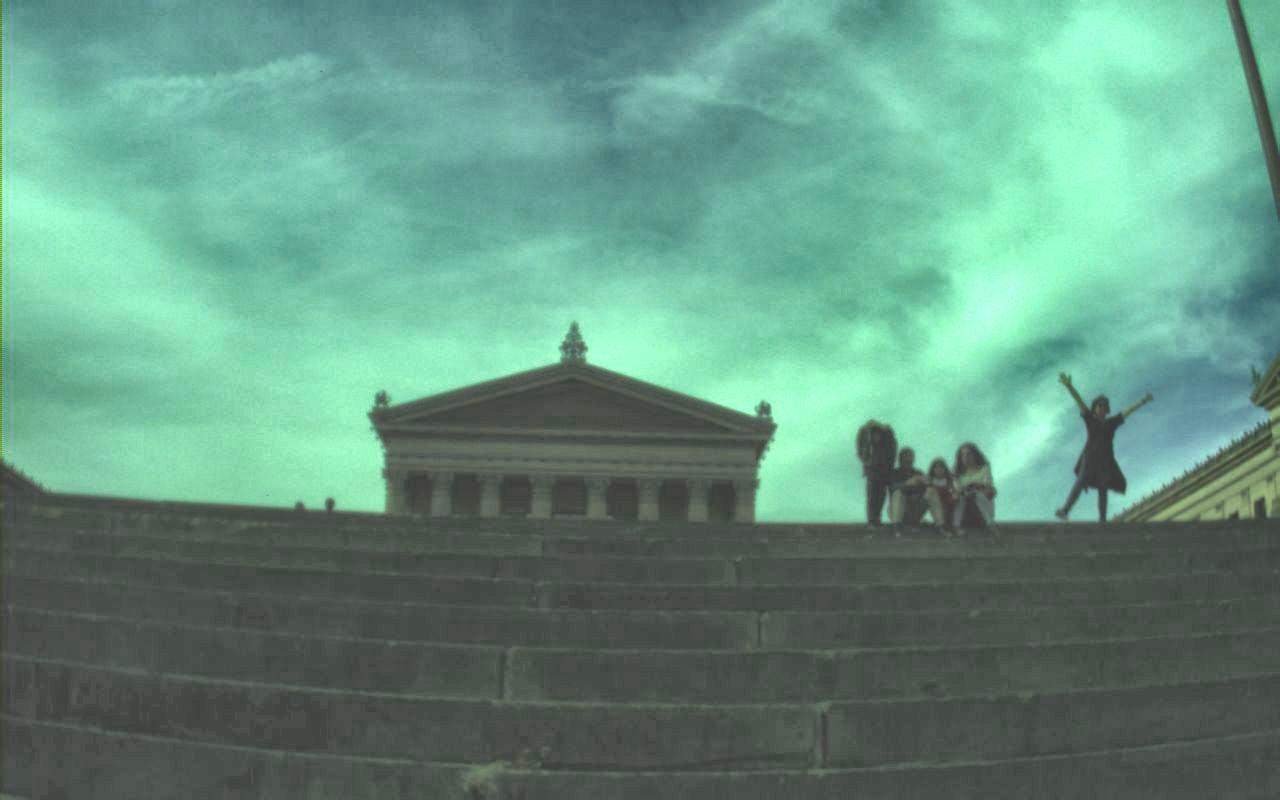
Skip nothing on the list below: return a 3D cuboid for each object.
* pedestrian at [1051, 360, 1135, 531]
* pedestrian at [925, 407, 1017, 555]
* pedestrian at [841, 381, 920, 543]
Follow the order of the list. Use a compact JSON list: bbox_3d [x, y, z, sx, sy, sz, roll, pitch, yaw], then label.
[{"bbox_3d":[5.317,0.528,14.019,0.749,1.936,0.724,0,0,-43],"label":"pedestrian"},{"bbox_3d":[3.479,0.839,12.905,0.703,1.486,0.731,0,0,-11],"label":"pedestrian"},{"bbox_3d":[2.523,0.633,13.006,0.666,1.642,0.705,1,0,24],"label":"pedestrian"}]
